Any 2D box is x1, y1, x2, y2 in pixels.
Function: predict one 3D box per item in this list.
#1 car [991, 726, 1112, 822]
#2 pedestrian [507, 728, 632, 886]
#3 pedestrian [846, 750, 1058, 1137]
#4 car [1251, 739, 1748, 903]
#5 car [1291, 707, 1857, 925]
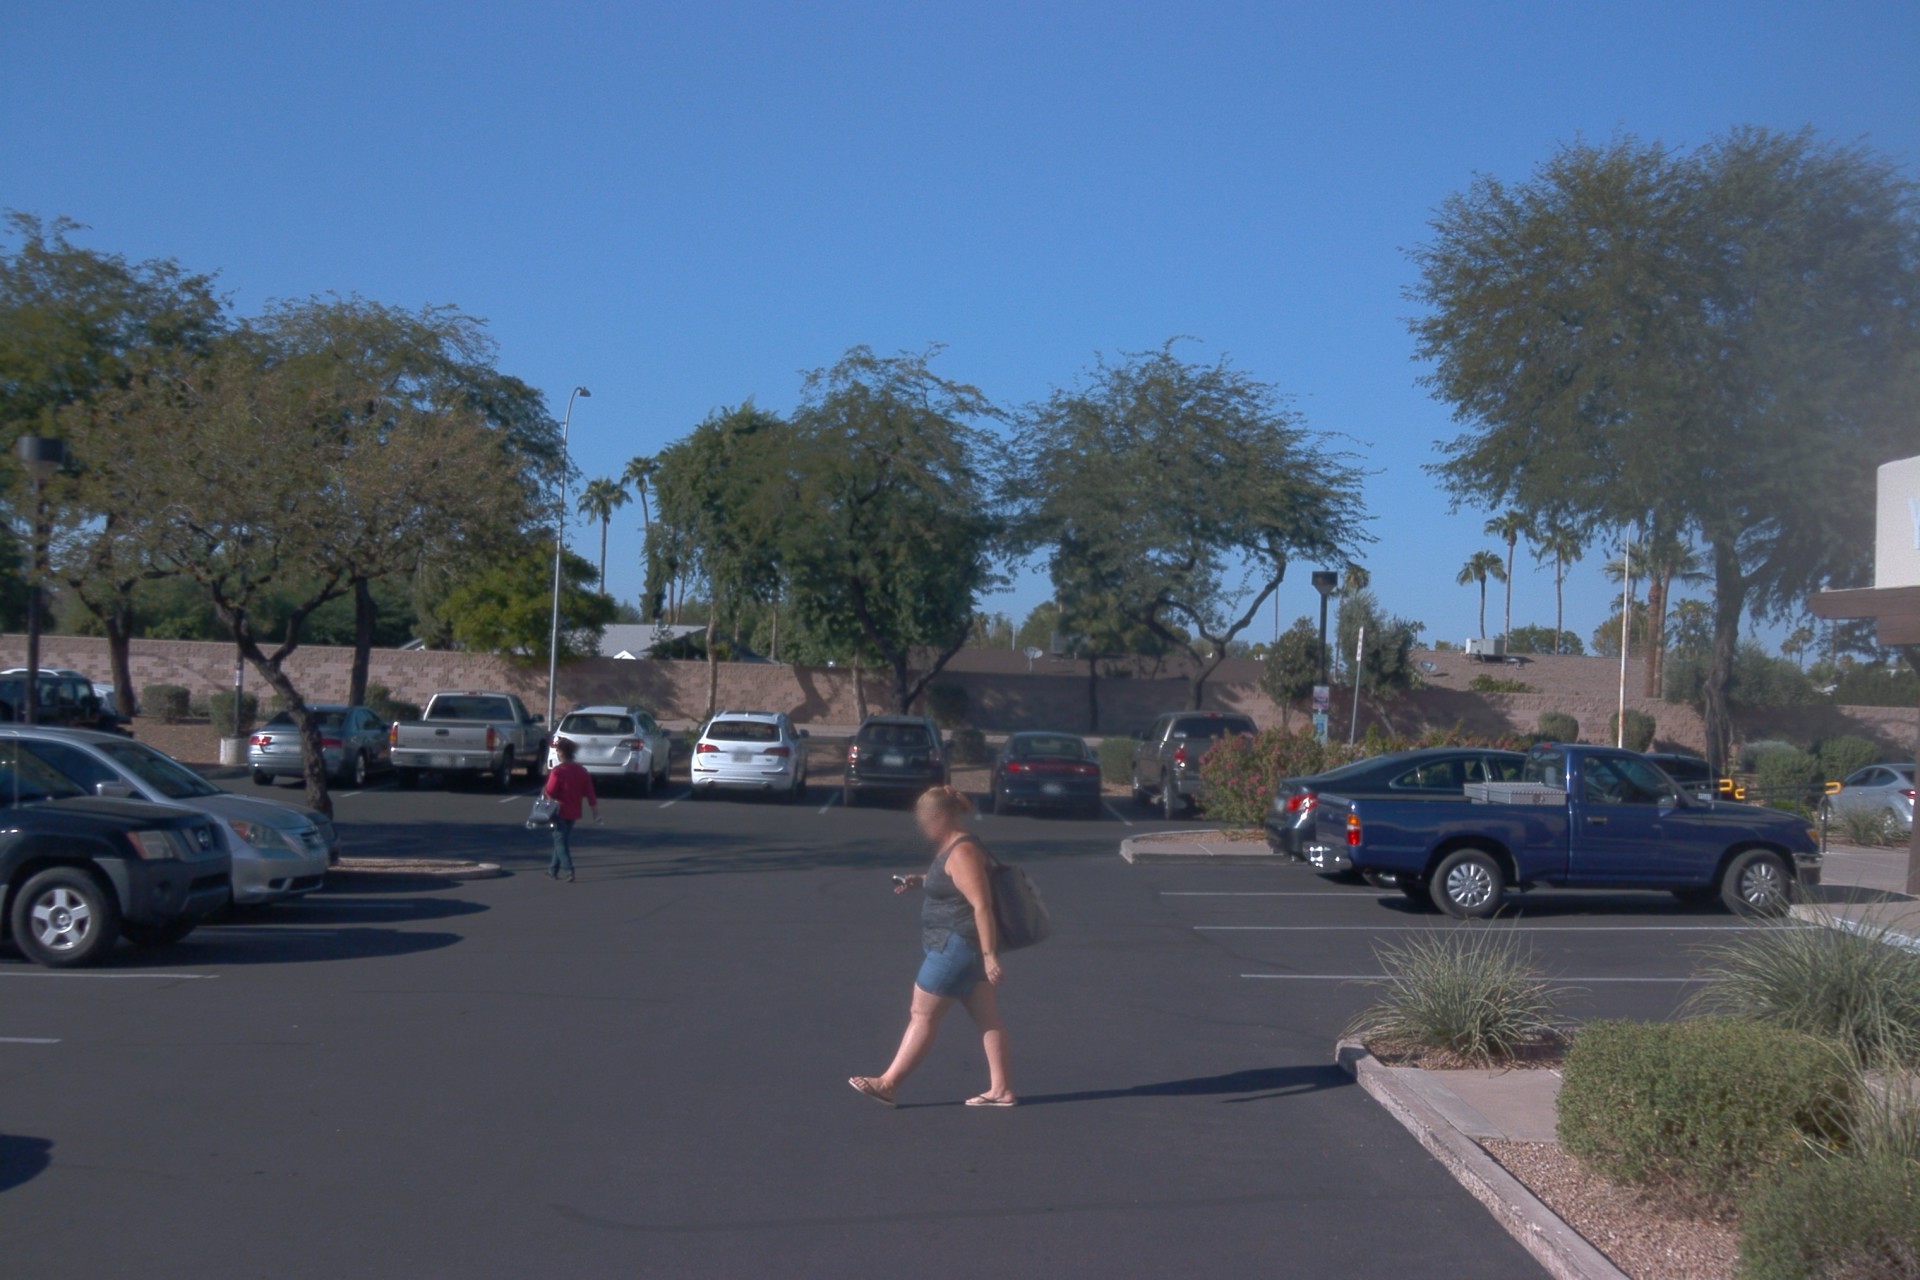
[{"bbox_3d":[1.620,2.427,38.373,2.065,1.540,4.526,1,-1,1],"label":"car"},{"bbox_3d":[-4.371,1.834,23.171,0.982,1.680,1.039,1,-1,-38],"label":"pedestrian"},{"bbox_3d":[-0.028,1.433,10.093,0.962,1.750,0.926,1,-1,1],"label":"pedestrian"},{"bbox_3d":[5.688,1.906,22.280,4.780,1.570,2.041,1,-1,-2],"label":"car"},{"bbox_3d":[5.650,1.607,19.527,4.685,1.860,2.091,1,-1,-2],"label":"car"}]
